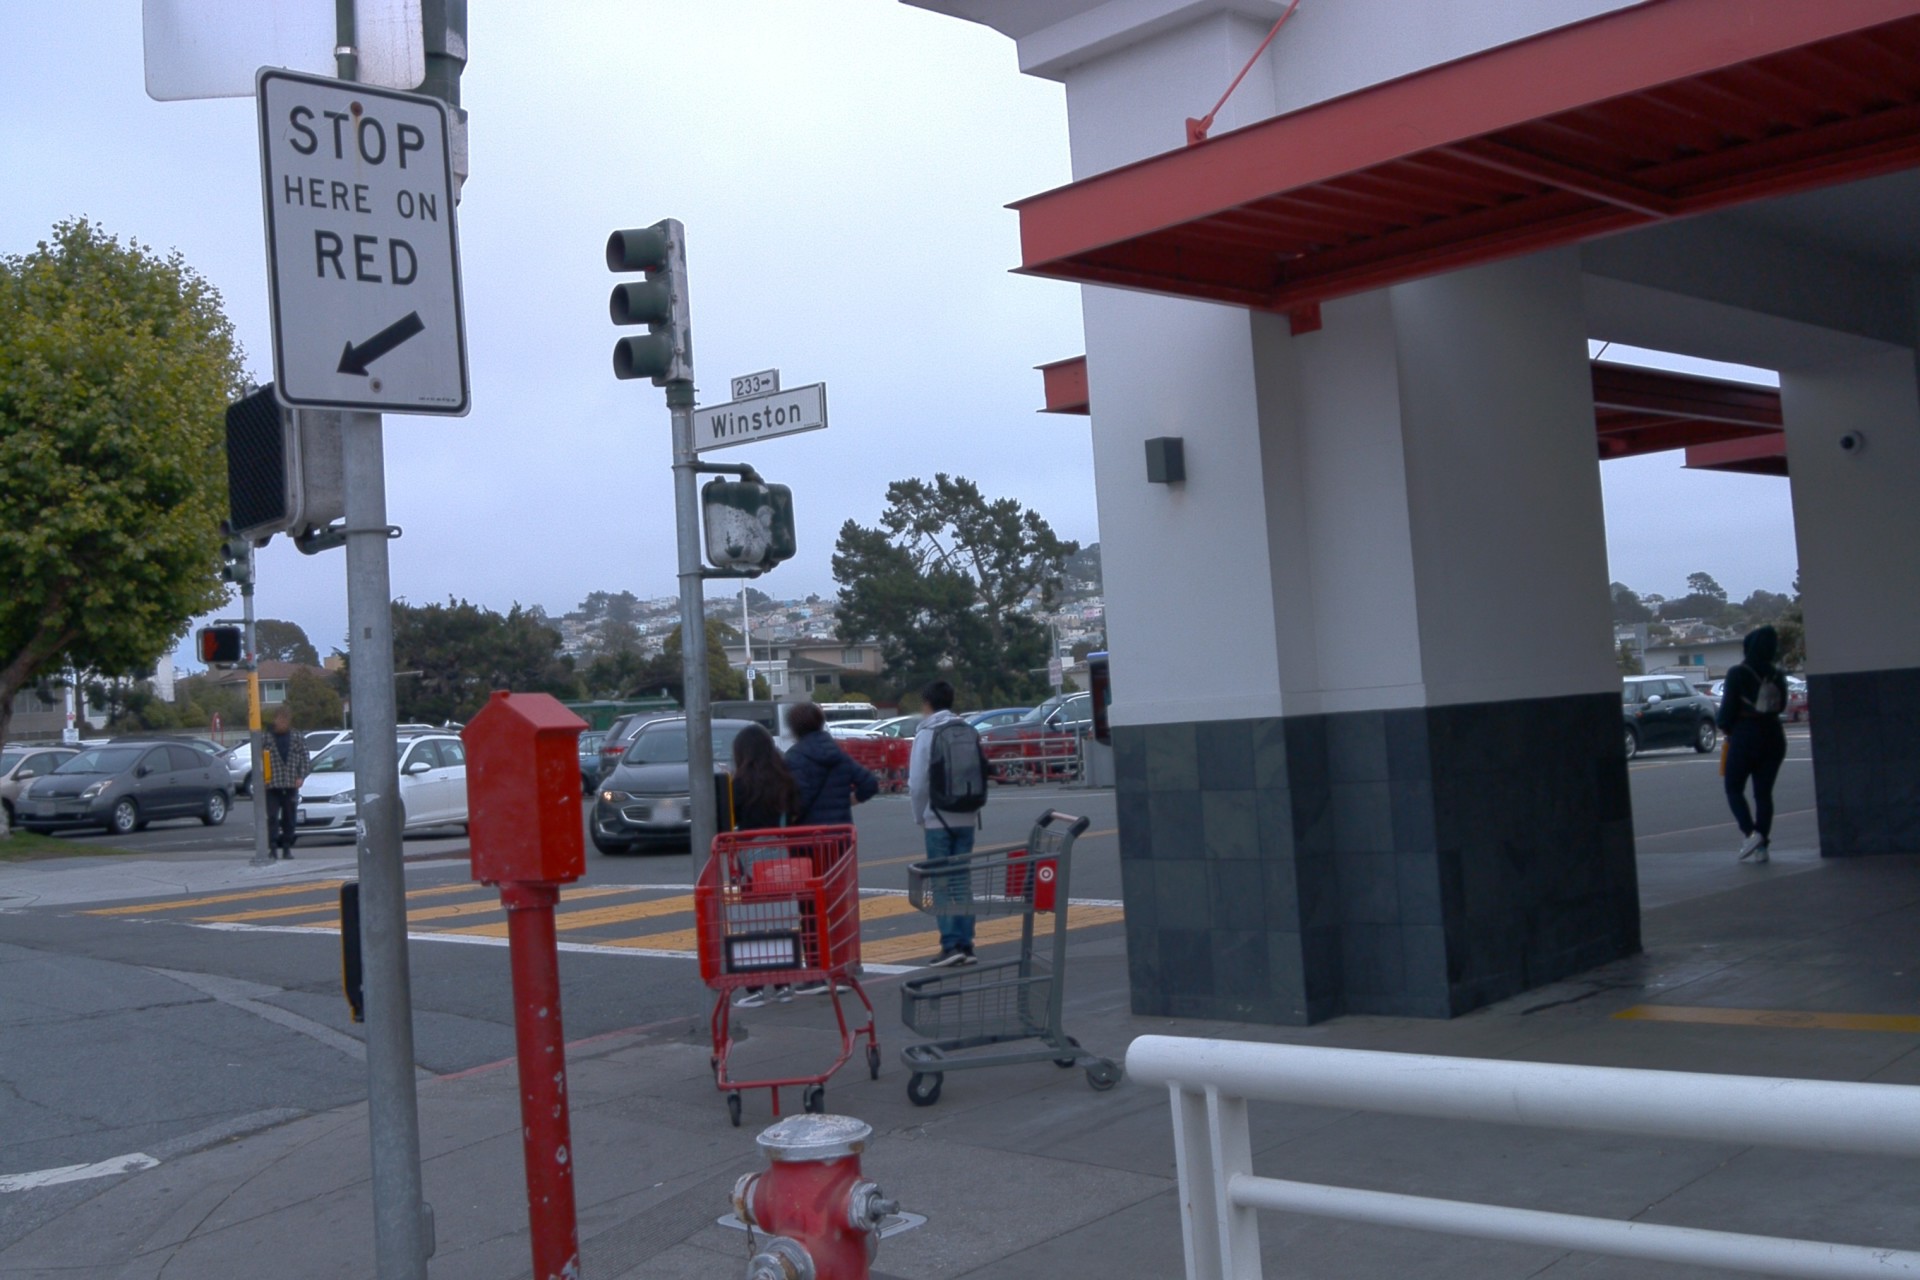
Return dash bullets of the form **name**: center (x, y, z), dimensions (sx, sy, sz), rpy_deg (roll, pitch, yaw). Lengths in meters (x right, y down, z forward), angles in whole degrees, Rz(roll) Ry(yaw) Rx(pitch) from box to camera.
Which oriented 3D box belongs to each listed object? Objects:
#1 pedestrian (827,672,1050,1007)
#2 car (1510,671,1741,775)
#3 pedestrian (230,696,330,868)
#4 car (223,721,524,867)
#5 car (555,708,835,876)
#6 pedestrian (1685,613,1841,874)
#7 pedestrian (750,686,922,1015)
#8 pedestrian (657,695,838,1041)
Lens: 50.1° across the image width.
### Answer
- **pedestrian**: center (-0.135, 1.088, 11.776), dimensions (0.816, 1.770, 1.084), rpy_deg (0, 0, -32)
- **car**: center (11.401, 1.365, 35.116), dimensions (4.062, 1.580, 1.929), rpy_deg (-1, 1, -41)
- **pedestrian**: center (-7.717, 1.579, 23.321), dimensions (0.855, 1.820, 1.277), rpy_deg (0, 0, -28)
- **car**: center (-7.826, 2.005, 27.933), dimensions (2.005, 1.570, 4.452), rpy_deg (0, 1, 14)
- **car**: center (-2.998, 1.708, 24.488), dimensions (2.093, 1.570, 4.878), rpy_deg (0, 1, 8)
- **pedestrian**: center (5.508, 0.680, 14.149), dimensions (0.763, 1.730, 0.951), rpy_deg (0, 0, 6)
- **pedestrian**: center (-0.672, 1.089, 11.013), dimensions (0.627, 1.650, 0.761), rpy_deg (0, 0, -31)
- **pedestrian**: center (-1.105, 1.132, 10.612), dimensions (0.627, 1.660, 0.867), rpy_deg (0, 0, -29)
